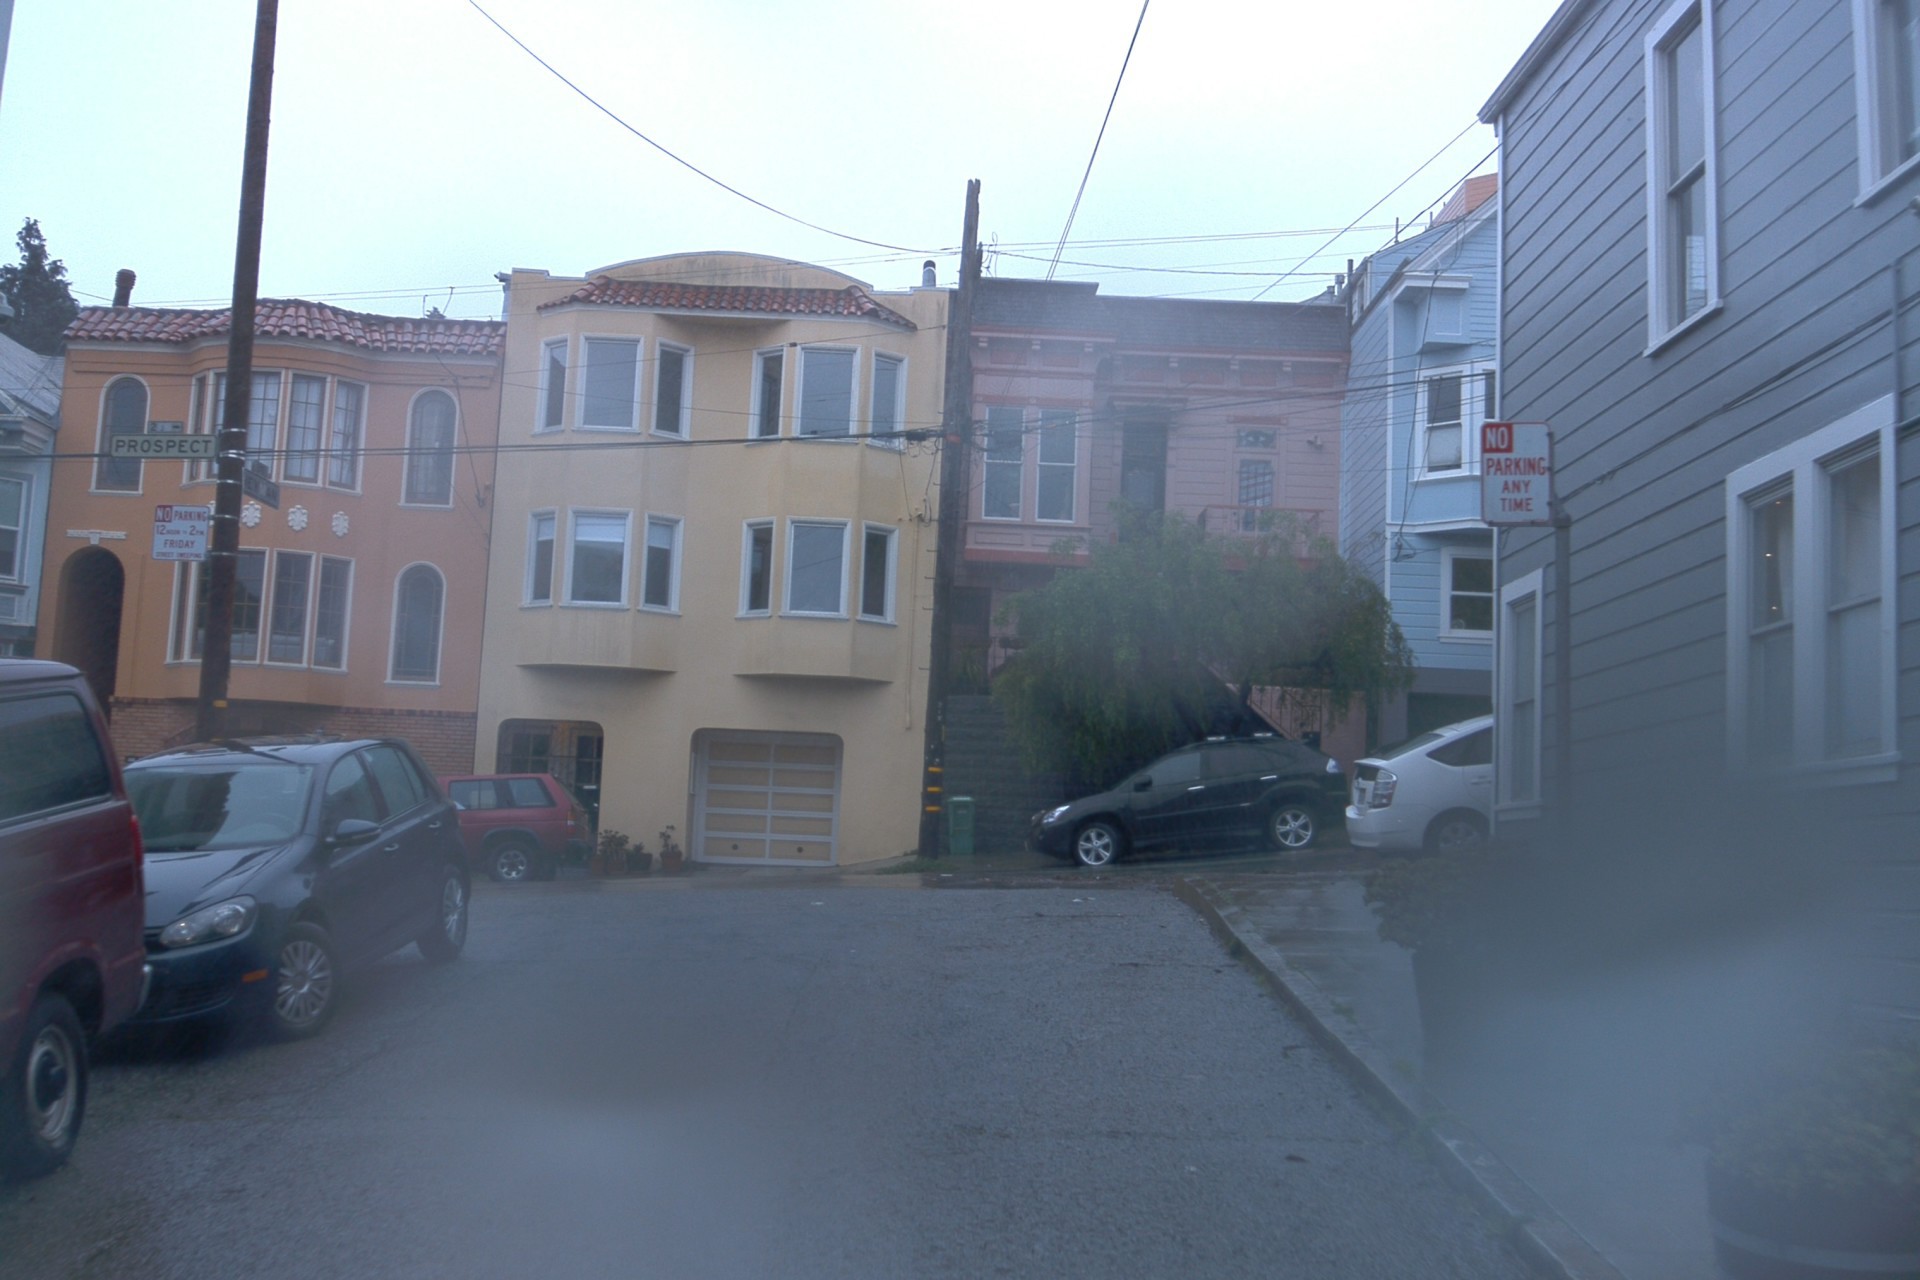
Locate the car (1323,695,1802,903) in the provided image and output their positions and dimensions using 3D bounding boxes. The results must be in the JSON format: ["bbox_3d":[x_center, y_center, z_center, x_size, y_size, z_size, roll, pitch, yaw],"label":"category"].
[{"bbox_3d":[5.960,1.550,20.799,4.209,1.850,2.036,1,0,1],"label":"car"}]

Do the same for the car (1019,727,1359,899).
[{"bbox_3d":[3.208,2.442,29.588,4.626,2.210,1.958,1,0,0],"label":"car"}]

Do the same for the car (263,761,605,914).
[{"bbox_3d":[-7.479,2.803,29.592,4.397,1.930,1.945,1,0,-1],"label":"car"}]
